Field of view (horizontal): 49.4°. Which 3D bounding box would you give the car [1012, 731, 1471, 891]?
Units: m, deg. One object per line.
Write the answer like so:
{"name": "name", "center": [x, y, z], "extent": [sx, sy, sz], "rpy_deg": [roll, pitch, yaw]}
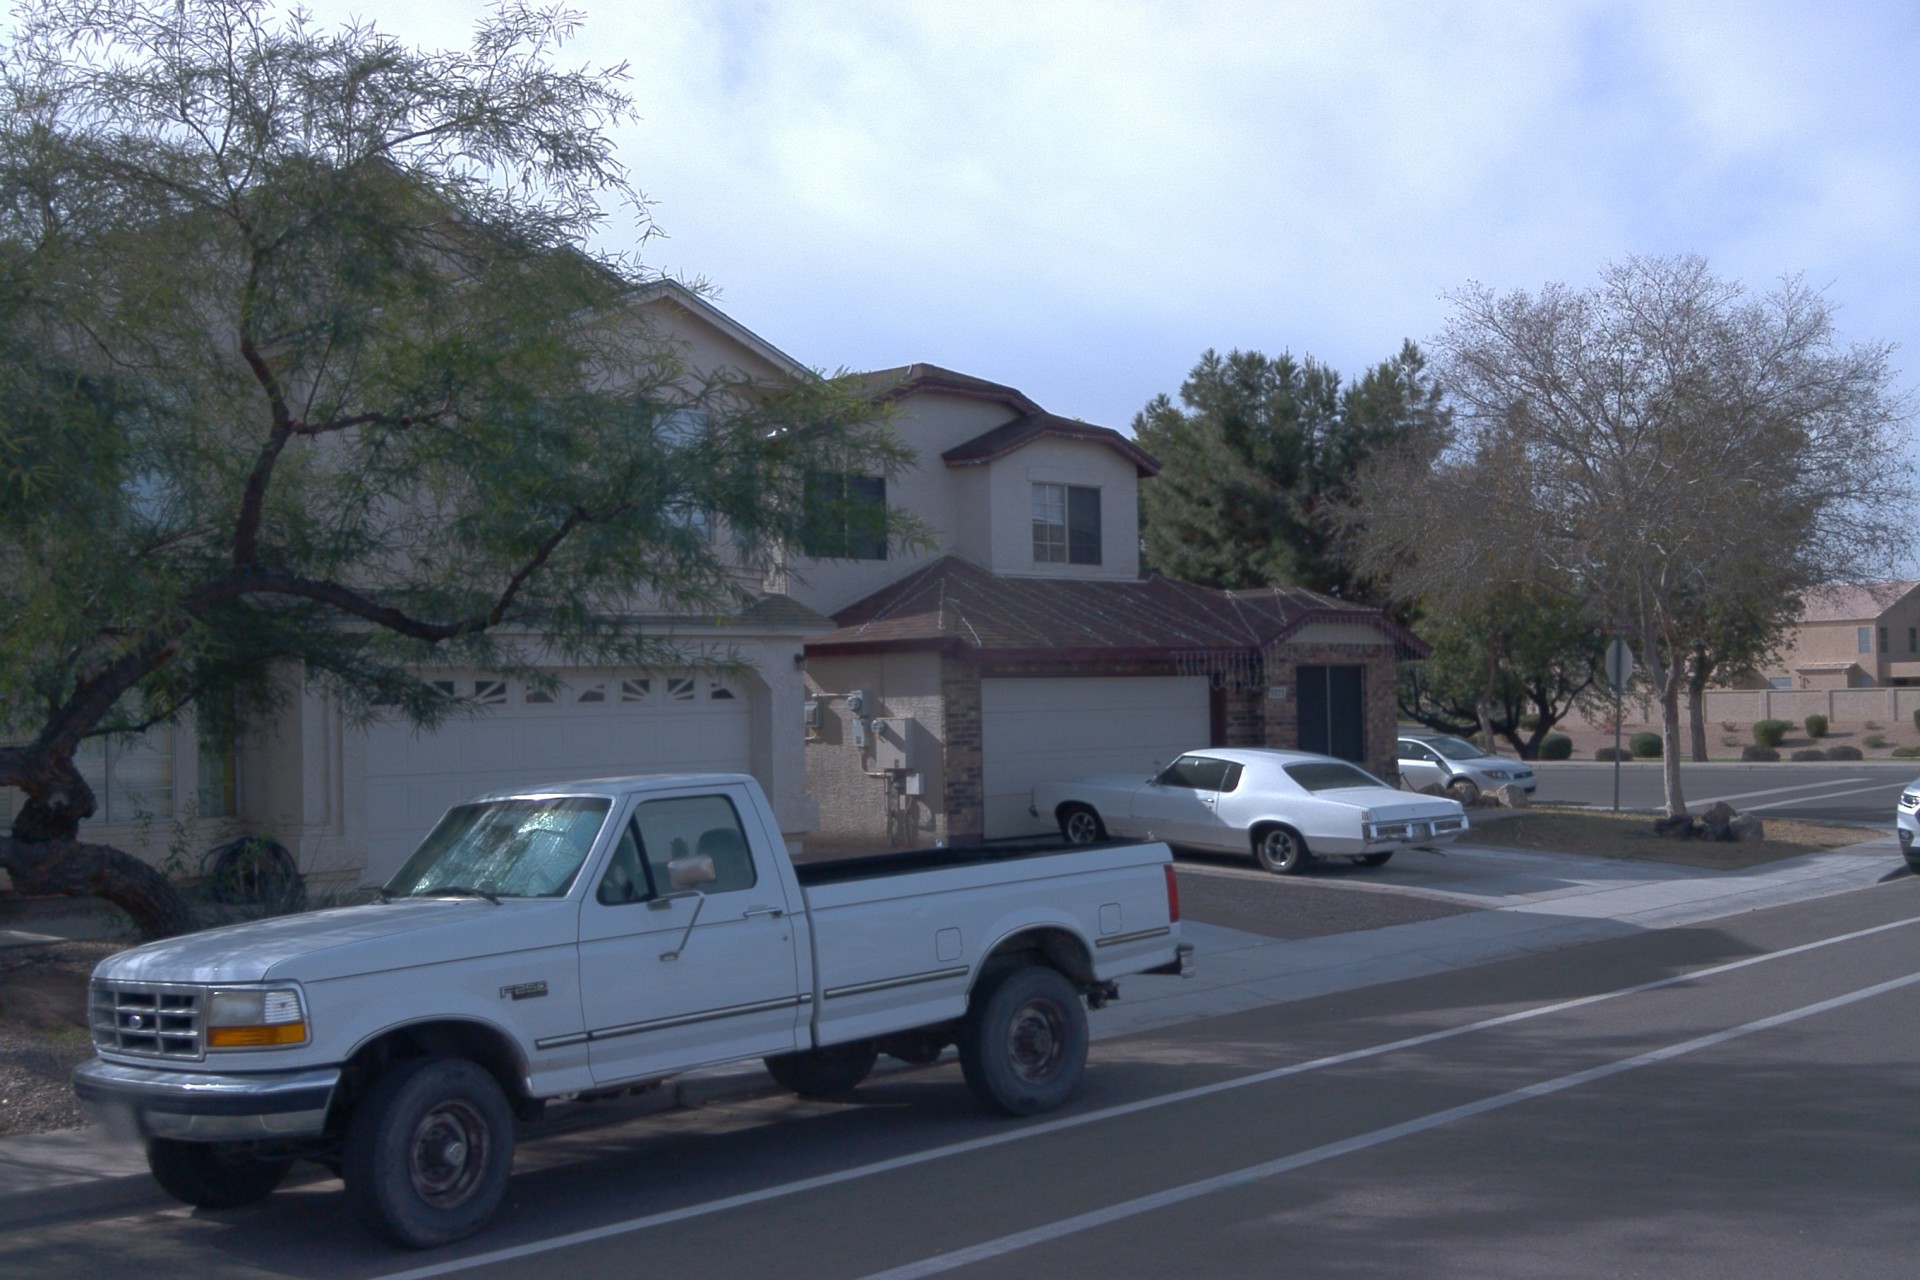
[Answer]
{"name": "car", "center": [3.191, 1.923, 24.679], "extent": [2.100, 1.500, 5.257], "rpy_deg": [1, -1, -42]}

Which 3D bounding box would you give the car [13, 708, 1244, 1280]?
{"name": "car", "center": [-1.361, 1.473, 10.713], "extent": [5.870, 2.130, 2.464], "rpy_deg": [1, -1, -44]}
